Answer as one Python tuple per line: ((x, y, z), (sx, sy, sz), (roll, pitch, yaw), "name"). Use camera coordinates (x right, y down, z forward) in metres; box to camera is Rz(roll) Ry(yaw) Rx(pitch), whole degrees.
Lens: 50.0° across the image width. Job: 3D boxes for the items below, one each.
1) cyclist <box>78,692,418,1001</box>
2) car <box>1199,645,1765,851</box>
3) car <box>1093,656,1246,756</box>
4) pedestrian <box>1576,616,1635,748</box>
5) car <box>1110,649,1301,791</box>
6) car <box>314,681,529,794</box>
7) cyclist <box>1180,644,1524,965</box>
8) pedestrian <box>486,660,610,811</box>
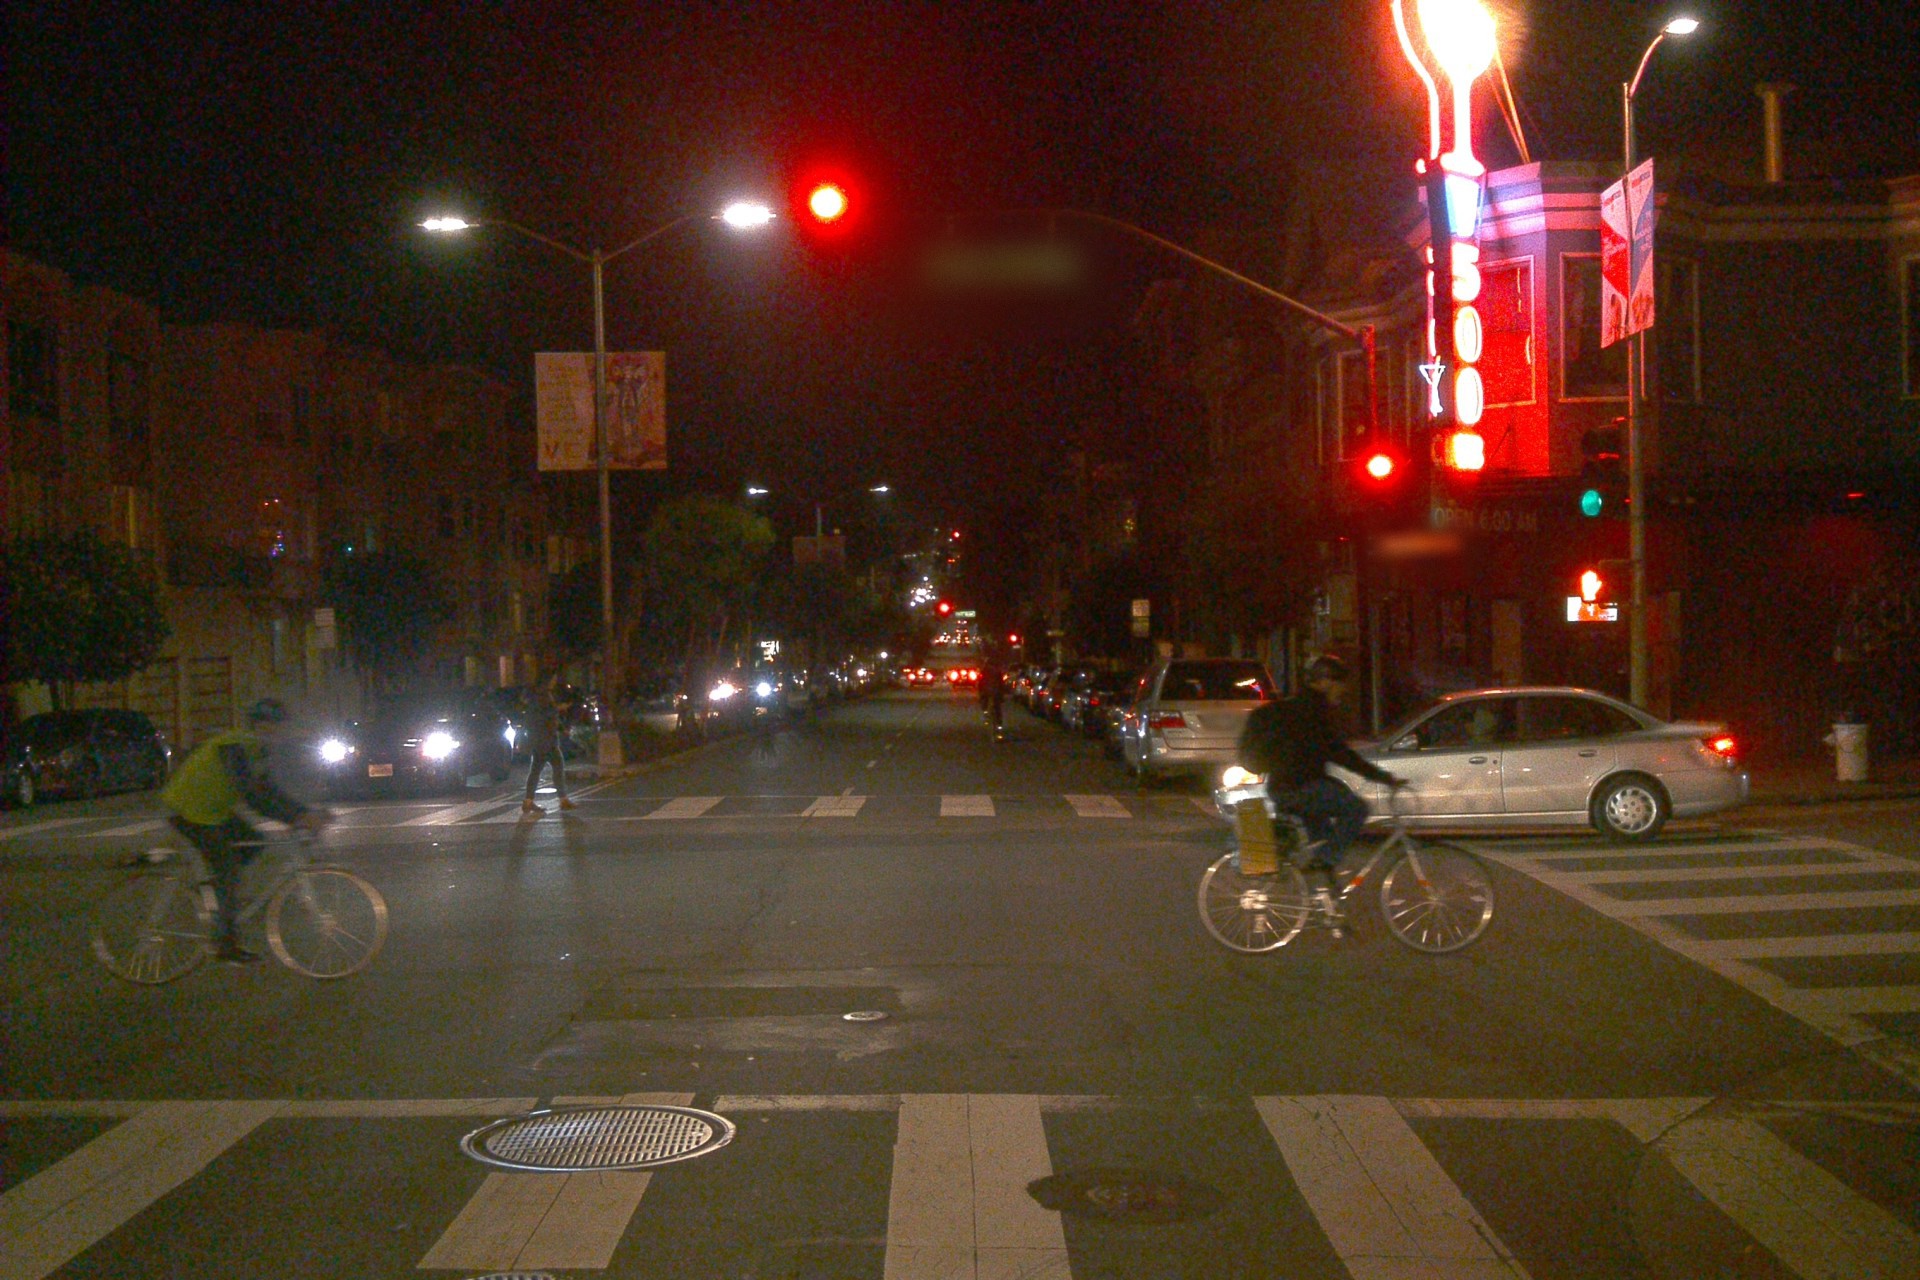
((-4.199, 1.199, 12.247), (1.790, 1.750, 0.762), (1, 0, -8), "cyclist")
((4.745, 0.932, 19.163), (4.826, 1.720, 2.135), (1, 0, 11), "car")
((3.322, 1.013, 33.307), (1.810, 1.470, 4.216), (1, 0, -3), "car")
((9.050, 0.578, 28.828), (0.739, 1.820, 0.628), (1, 0, 20), "pedestrian")
((3.288, 1.023, 28.469), (2.087, 1.770, 4.655), (1, 0, 0), "car")
((-7.621, 1.339, 29.549), (1.903, 1.390, 4.511), (1, 0, 0), "car")
((2.357, 0.970, 12.569), (1.948, 1.870, 0.823), (1, 0, 2), "cyclist")
((-4.782, 1.092, 23.922), (1.189, 1.690, 0.924), (1, 0, 4), "pedestrian")
